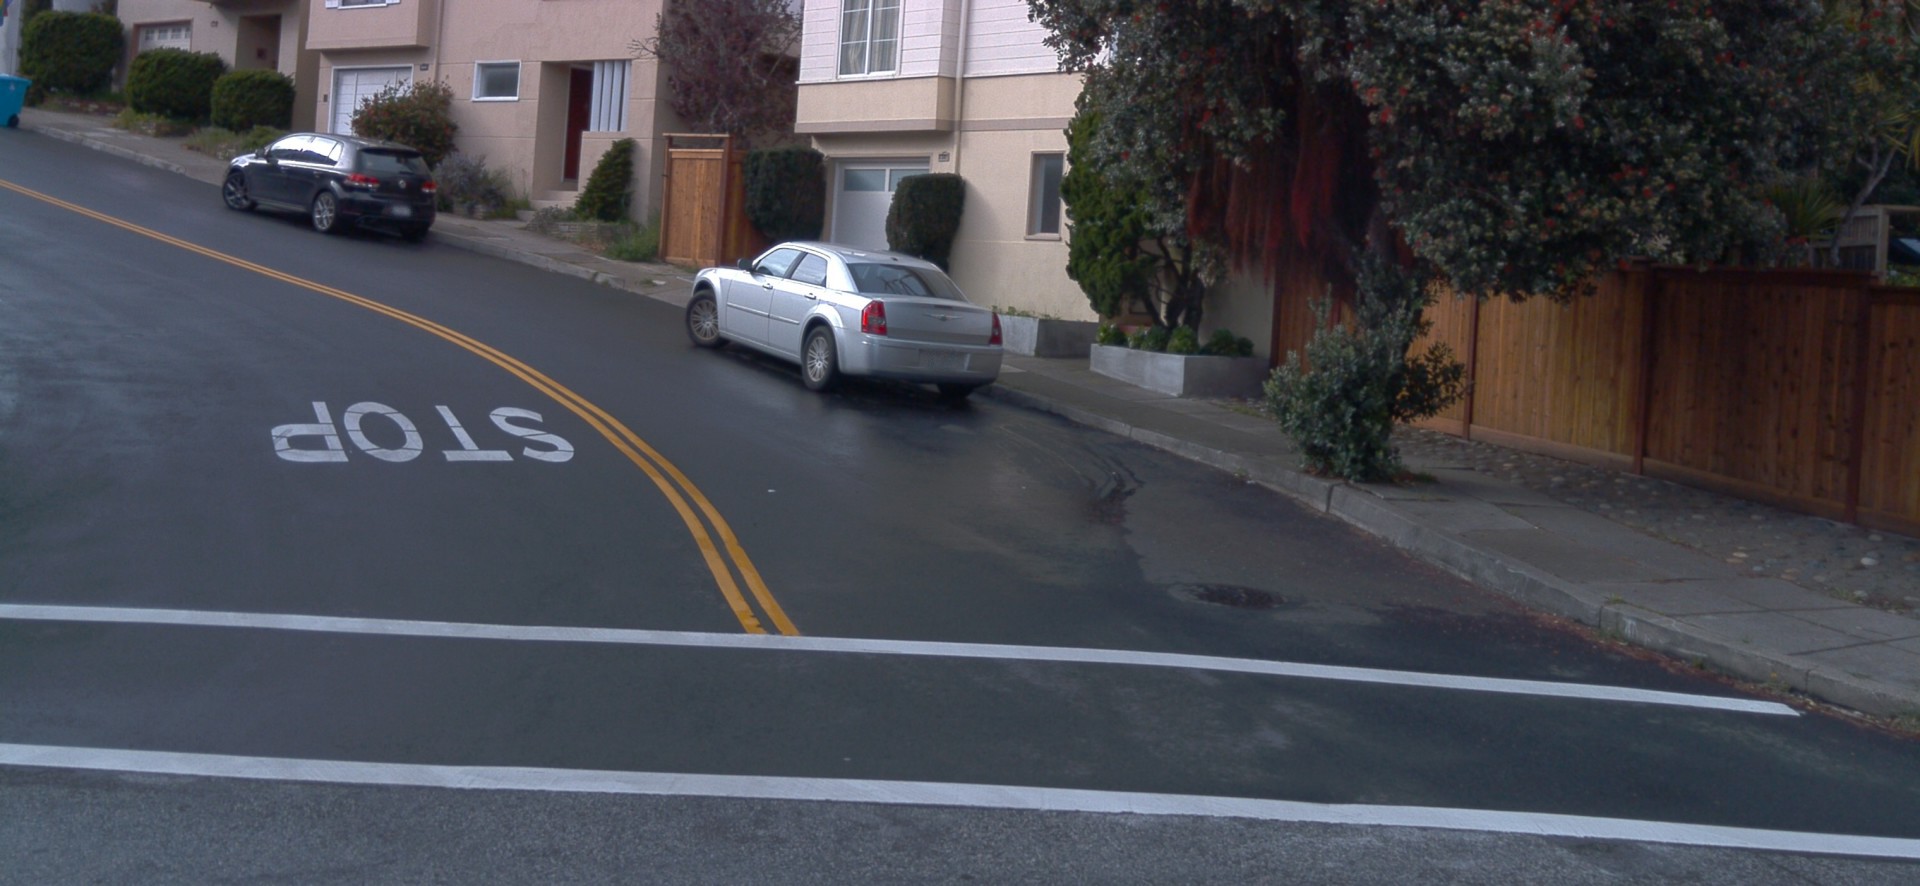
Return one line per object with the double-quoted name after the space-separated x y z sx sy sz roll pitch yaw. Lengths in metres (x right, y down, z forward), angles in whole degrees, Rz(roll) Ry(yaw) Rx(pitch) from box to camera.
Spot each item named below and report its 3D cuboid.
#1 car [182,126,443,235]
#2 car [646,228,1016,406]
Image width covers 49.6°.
-10.194 -4.108 32.601 4.119 1.604 1.867 5 6 37 "car"
-1.576 -1.512 23.231 1.984 1.682 4.920 -2 6 -33 "car"
